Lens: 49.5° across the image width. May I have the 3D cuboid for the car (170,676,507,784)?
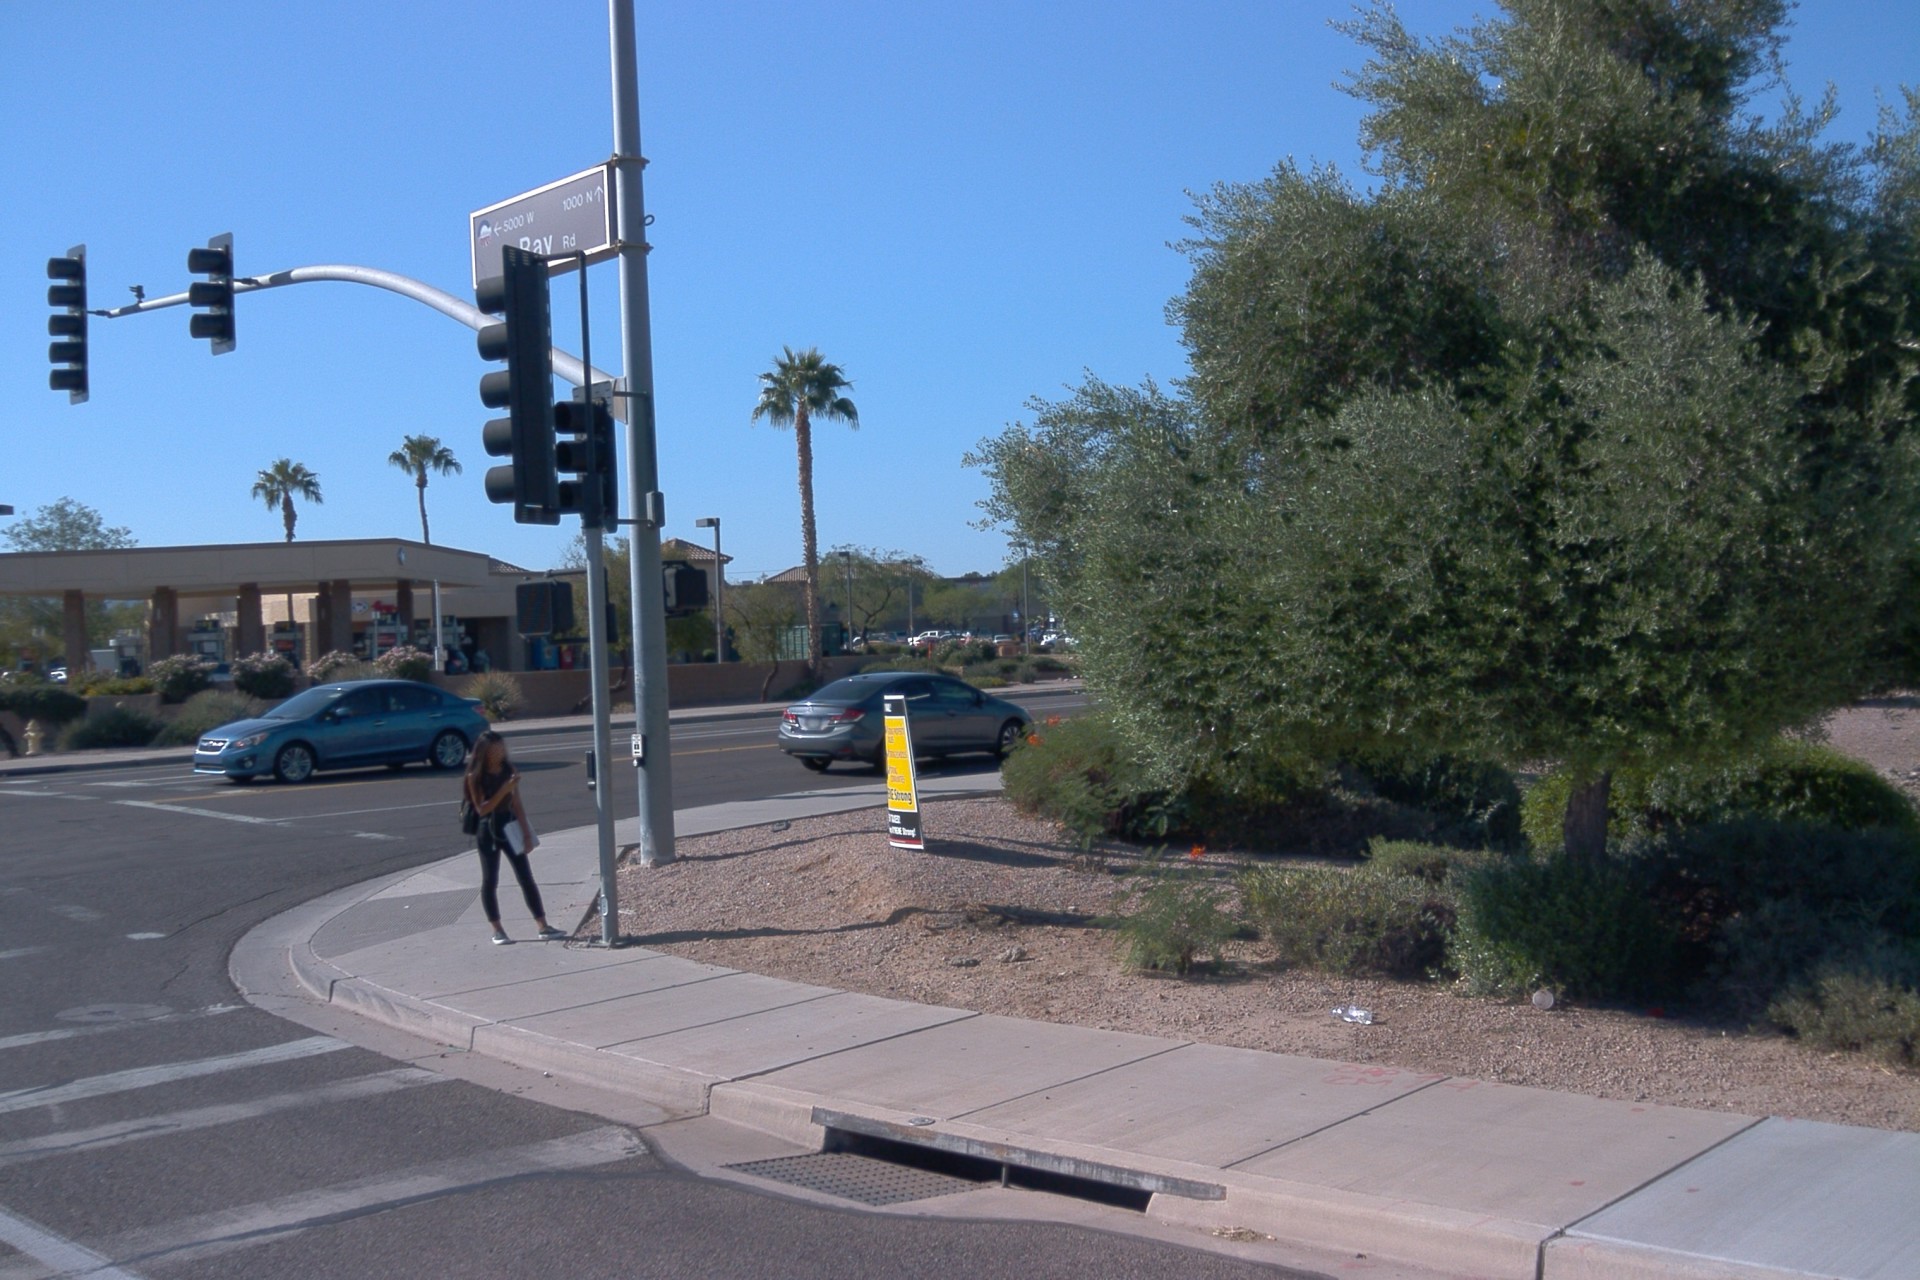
[{"bbox_3d":[-9.548,1.341,32.250,2.029,1.510,4.598,-2,-1,42],"label":"car"}]

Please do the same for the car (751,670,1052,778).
[{"bbox_3d":[-0.811,1.216,31.437,1.991,1.470,4.499,-2,-1,41],"label":"car"}]

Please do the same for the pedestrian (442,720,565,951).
[{"bbox_3d":[-3.322,1.390,15.122,0.668,1.590,0.903,0,-1,-26],"label":"pedestrian"}]
